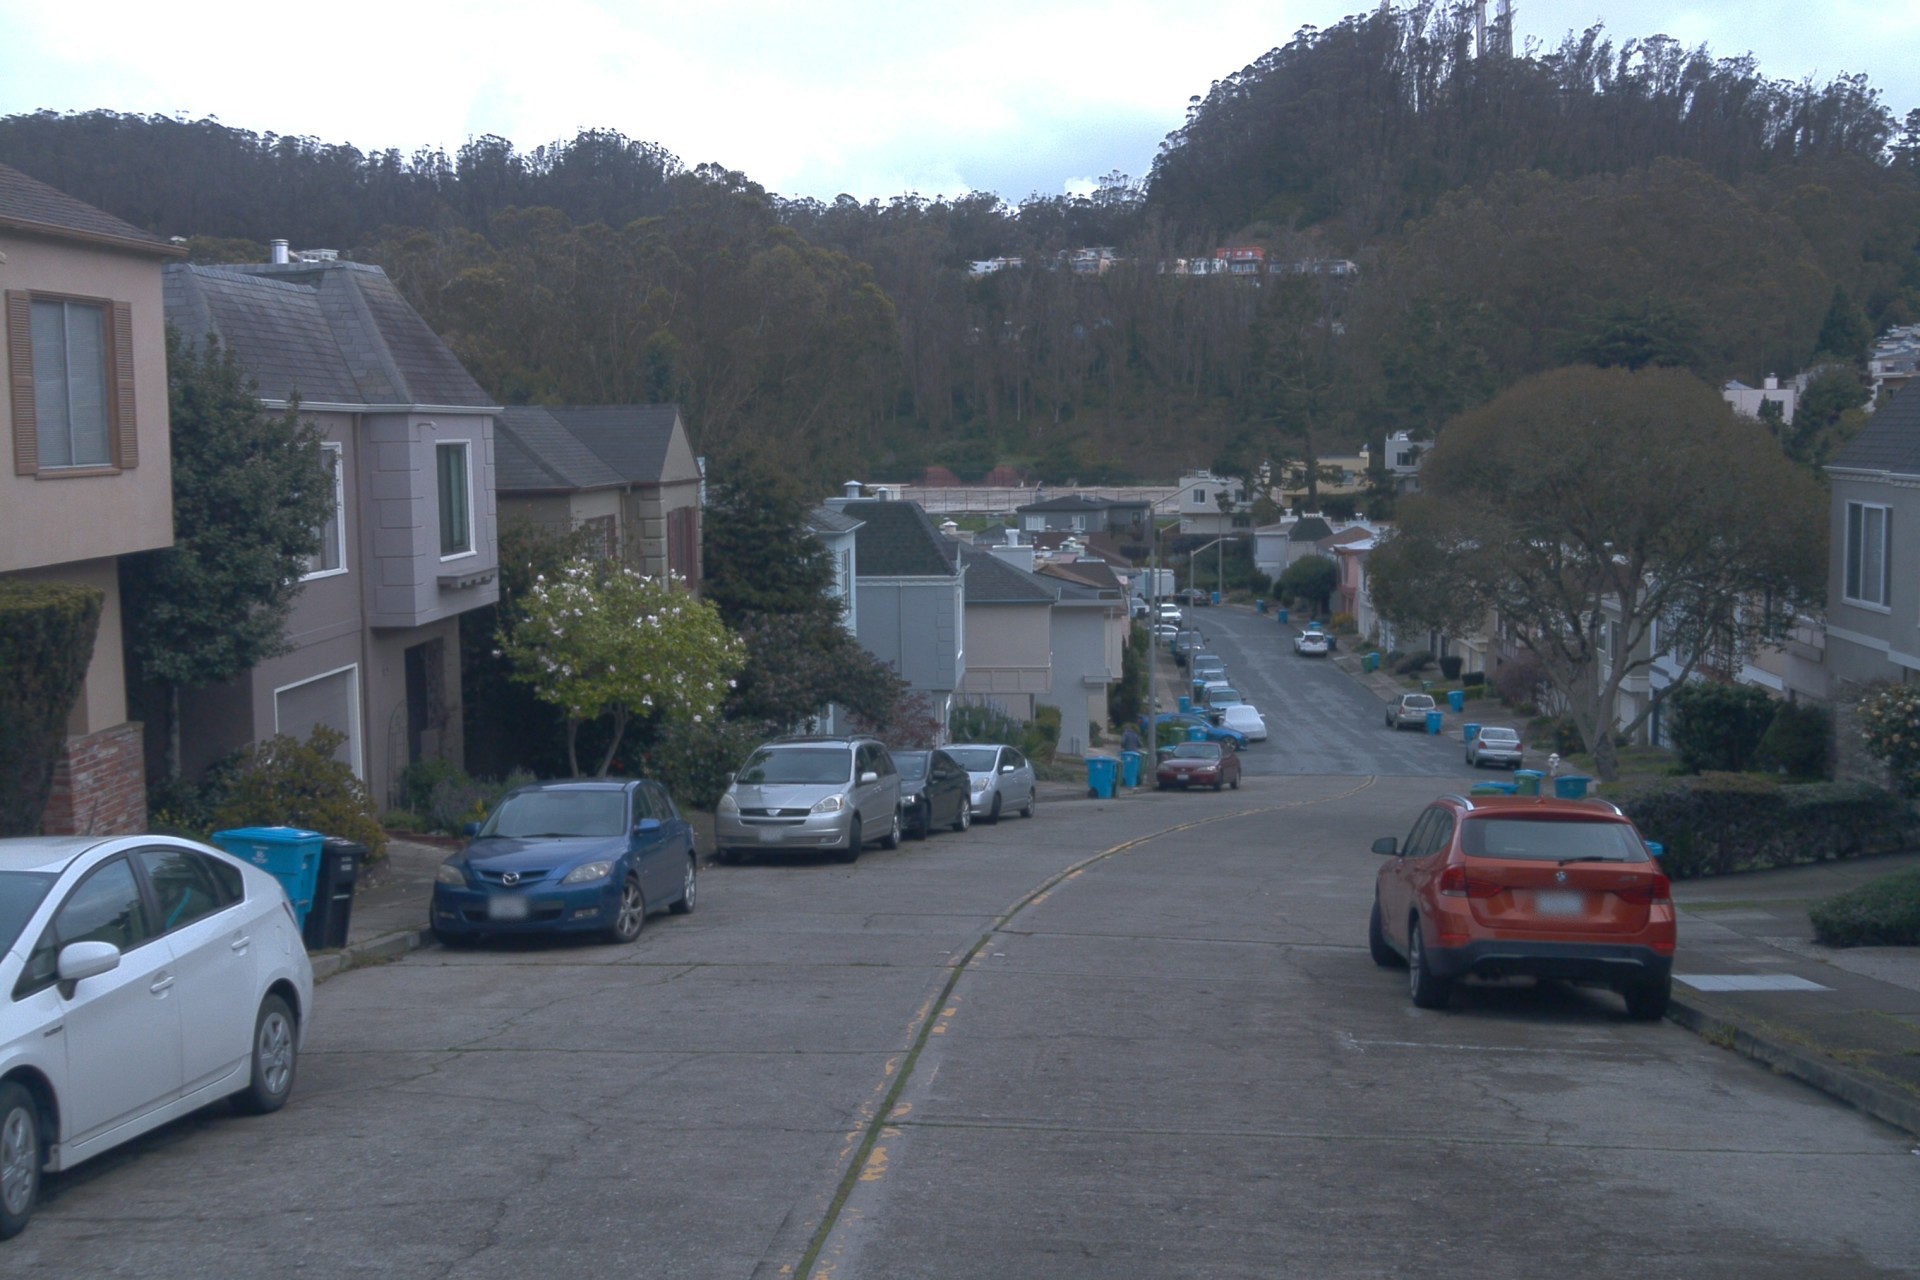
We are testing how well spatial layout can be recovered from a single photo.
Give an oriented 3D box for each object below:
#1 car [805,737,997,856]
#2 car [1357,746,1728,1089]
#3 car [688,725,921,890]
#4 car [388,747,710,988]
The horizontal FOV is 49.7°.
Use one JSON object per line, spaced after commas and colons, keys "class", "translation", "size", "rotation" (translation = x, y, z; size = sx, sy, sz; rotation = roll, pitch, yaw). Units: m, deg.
{"class": "car", "translation": [-0.917, 2.588, 35.253], "size": [2.088, 1.682, 4.572], "rotation": [0, 0, 14]}
{"class": "car", "translation": [4.369, 1.982, 16.337], "size": [2.111, 2.060, 4.755], "rotation": [0, 0, 7]}
{"class": "car", "translation": [-2.129, 2.322, 30.100], "size": [2.346, 1.990, 5.079], "rotation": [0, 0, 8]}
{"class": "car", "translation": [-3.792, 2.063, 19.966], "size": [2.025, 1.850, 4.437], "rotation": [0, 0, 3]}
